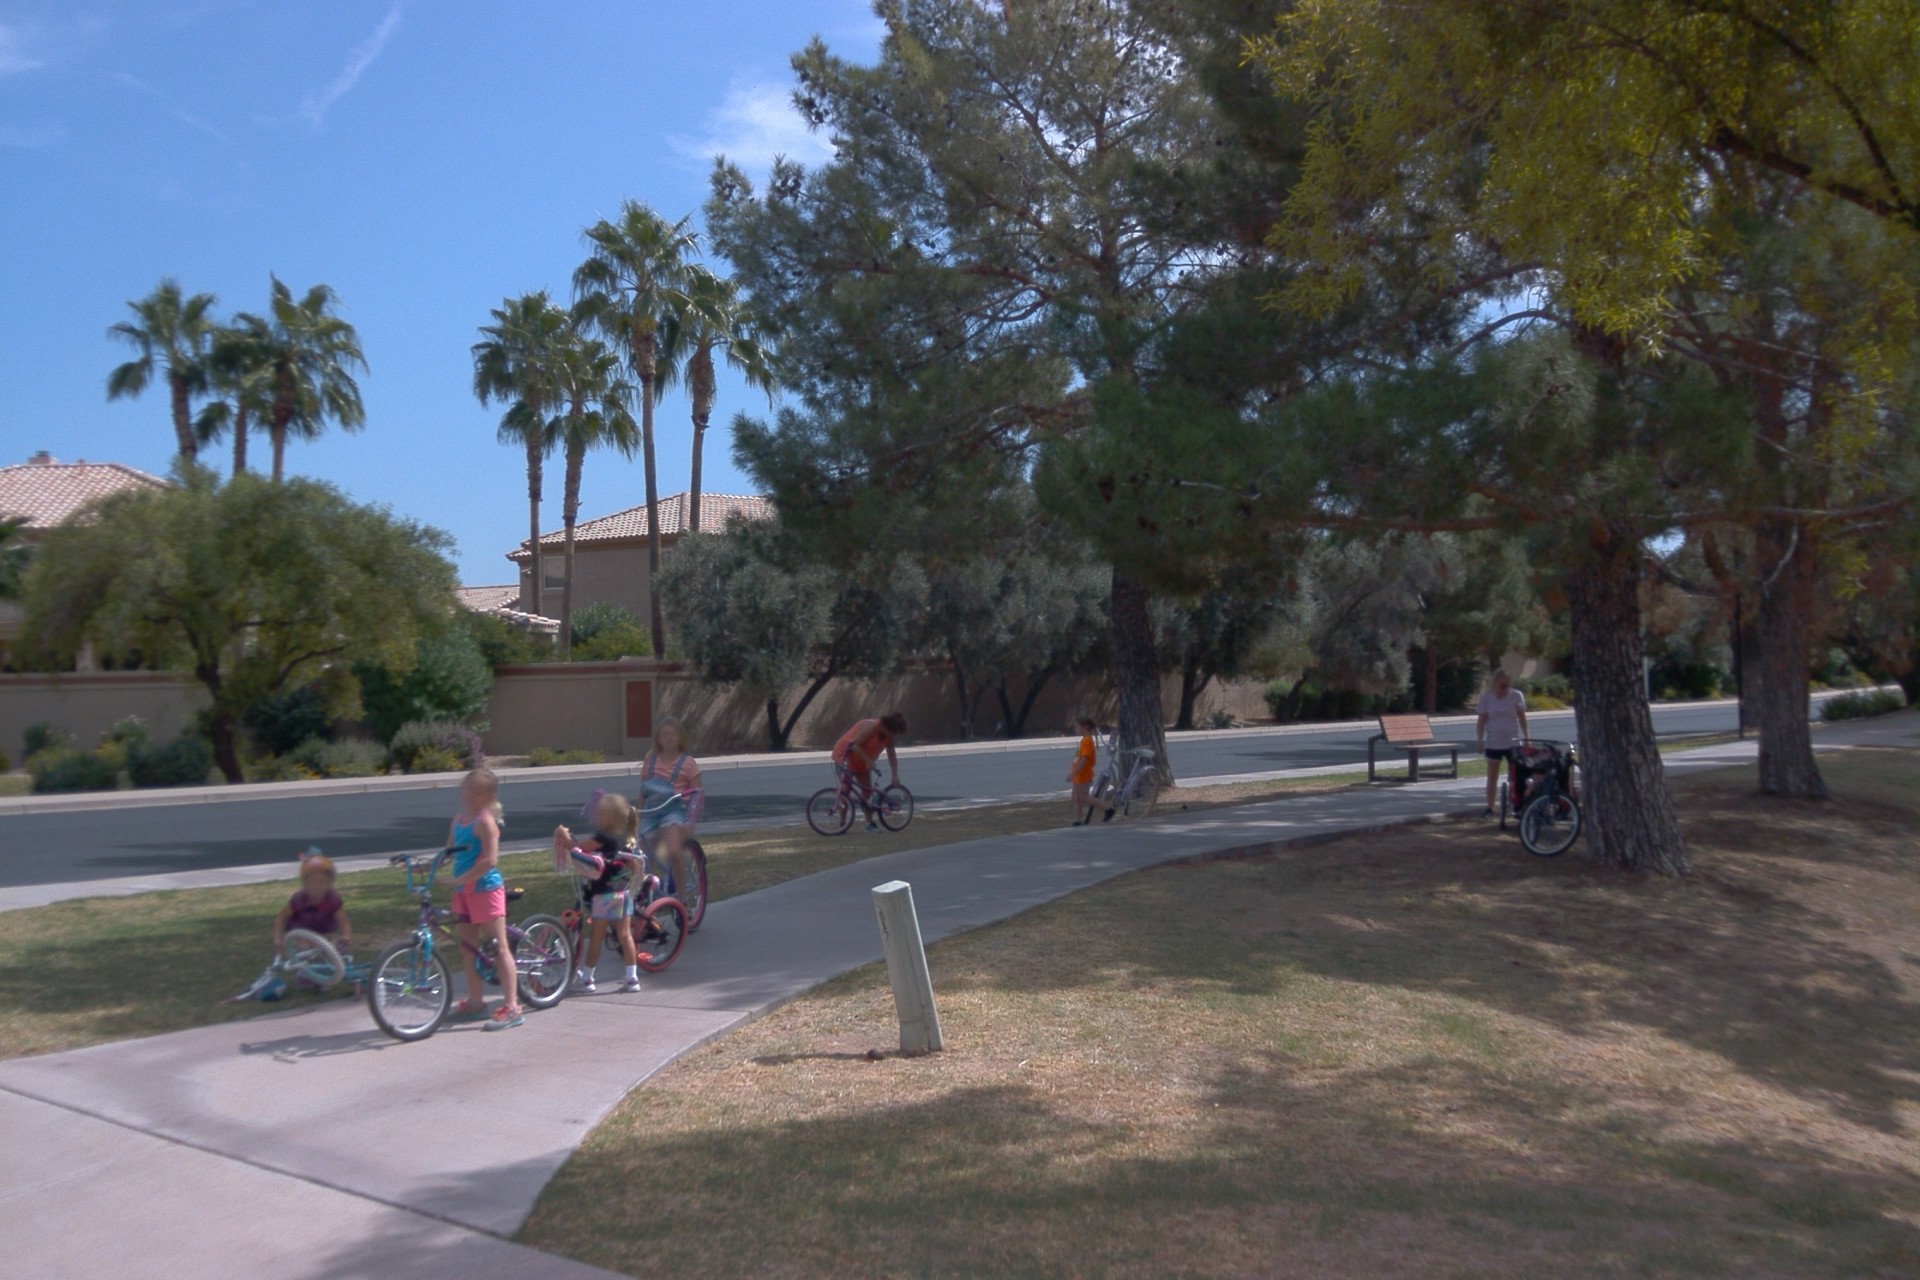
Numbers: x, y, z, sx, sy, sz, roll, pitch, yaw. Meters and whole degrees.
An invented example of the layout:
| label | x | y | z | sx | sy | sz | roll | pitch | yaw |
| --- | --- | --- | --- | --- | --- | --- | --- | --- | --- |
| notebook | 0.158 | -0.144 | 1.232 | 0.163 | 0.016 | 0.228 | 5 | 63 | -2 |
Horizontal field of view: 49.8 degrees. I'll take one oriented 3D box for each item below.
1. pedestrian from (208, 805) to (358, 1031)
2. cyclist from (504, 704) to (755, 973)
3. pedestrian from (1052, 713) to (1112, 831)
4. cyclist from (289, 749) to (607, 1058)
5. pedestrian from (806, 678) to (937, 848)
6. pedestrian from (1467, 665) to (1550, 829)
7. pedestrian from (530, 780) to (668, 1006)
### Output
| label | x | y | z | sx | sy | sz | roll | pitch | yaw |
| --- | --- | --- | --- | --- | --- | --- | --- | --- | --- |
| pedestrian | -3.899 | 1.569 | 11.892 | 0.718 | 1.180 | 0.735 | 1 | -1 | -26 |
| cyclist | -2.091 | 1.218 | 13.350 | 0.929 | 1.570 | 1.767 | 0 | -1 | 17 |
| pedestrian | 1.256 | 1.353 | 21.389 | 0.598 | 1.180 | 0.731 | 0 | -1 | 3 |
| cyclist | -2.630 | 1.309 | 10.761 | 0.728 | 1.420 | 1.493 | 0 | -1 | 34 |
| pedestrian | -0.933 | 1.264 | 21.753 | 1.029 | 1.720 | 0.902 | 1 | -1 | -43 |
| pedestrian | 5.863 | 1.123 | 22.106 | 0.836 | 1.710 | 0.896 | 0 | -1 | 16 |
| pedestrian | -2.015 | 1.392 | 11.571 | 0.522 | 1.180 | 0.548 | 0 | -1 | 34 |
